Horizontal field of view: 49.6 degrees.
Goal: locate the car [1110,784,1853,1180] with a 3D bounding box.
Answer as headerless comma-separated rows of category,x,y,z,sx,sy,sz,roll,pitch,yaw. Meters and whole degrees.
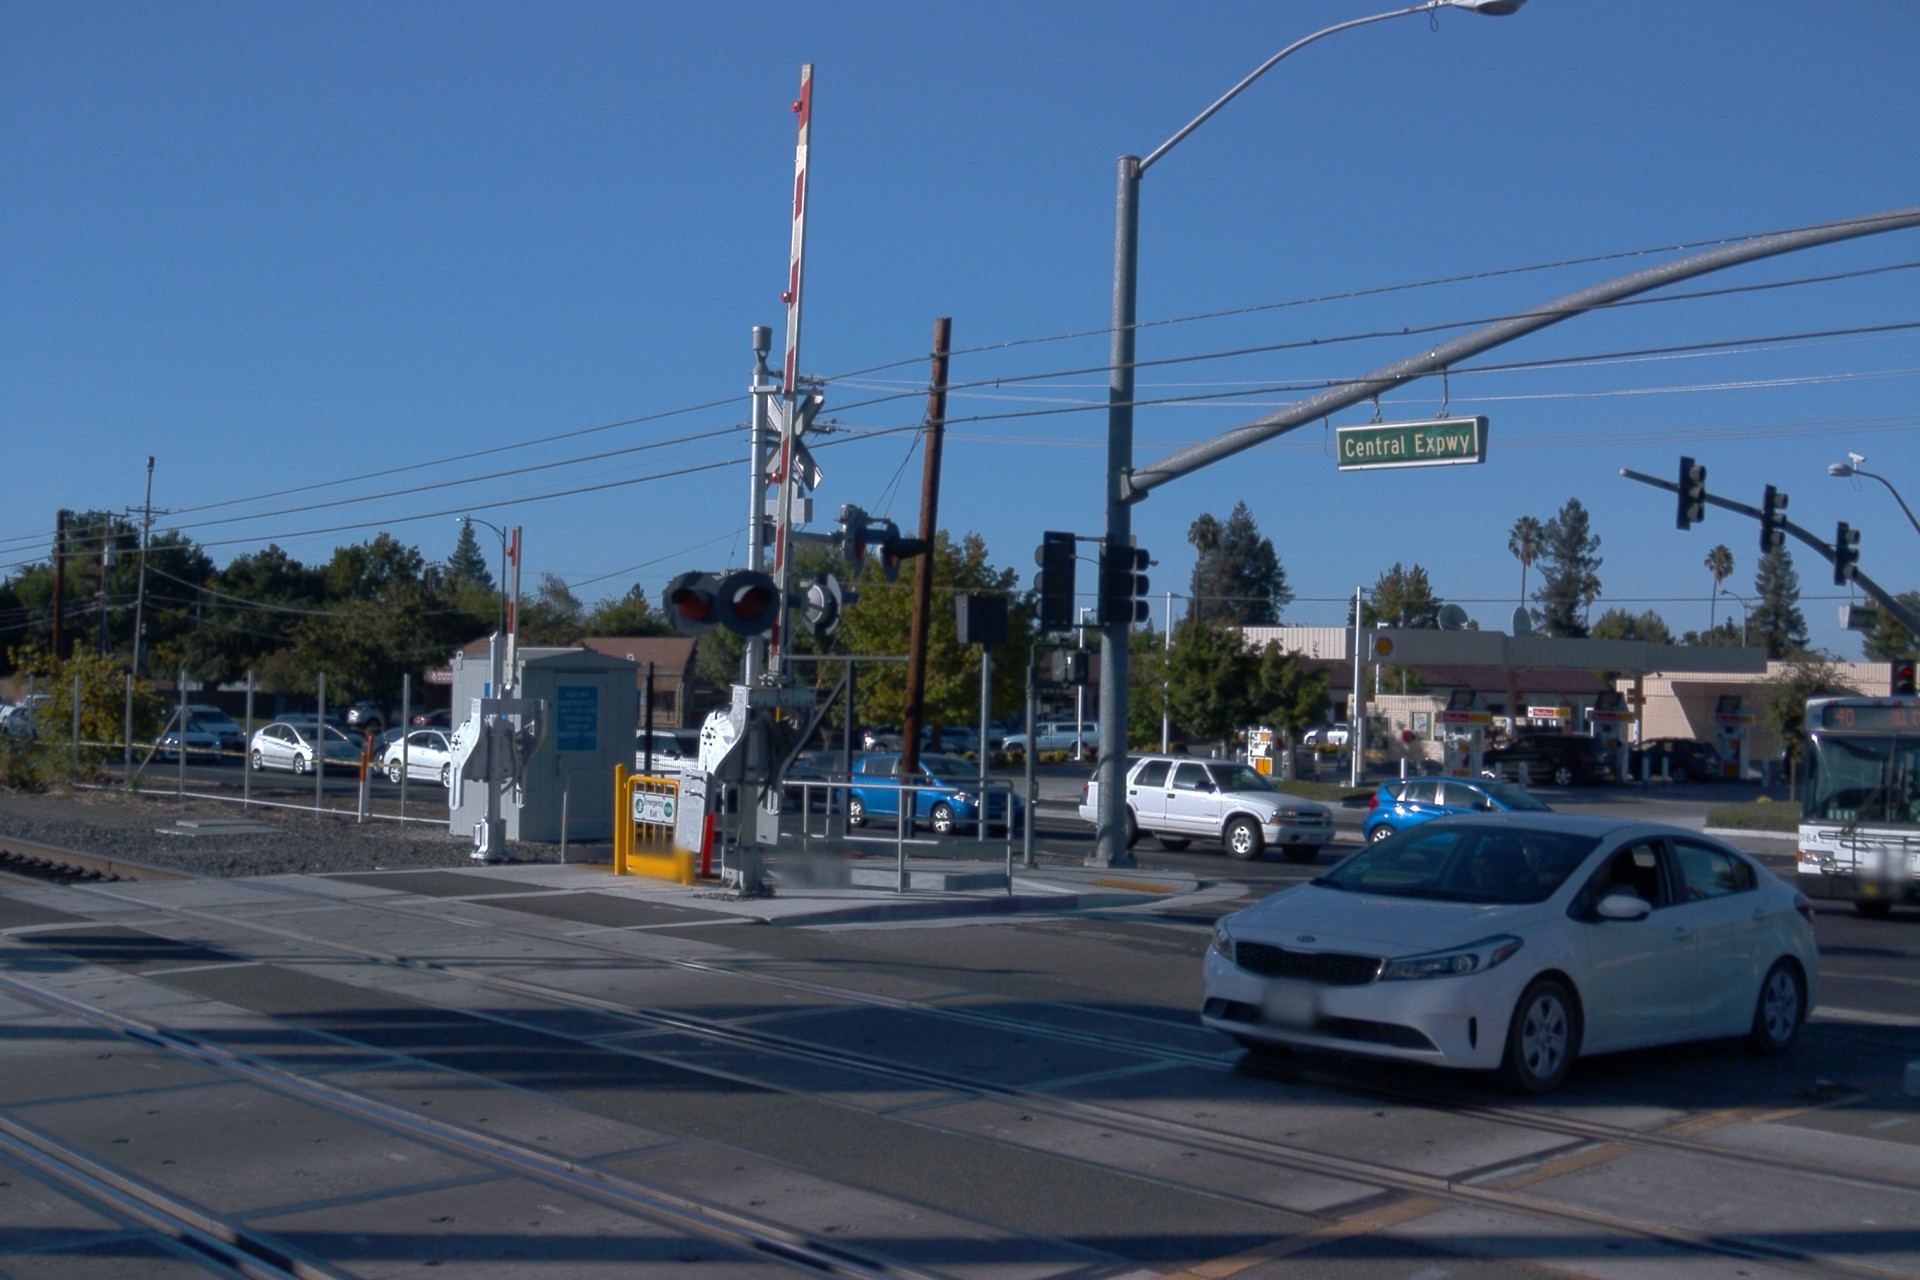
car,3.126,1.725,11.822,4.547,1.520,2.046,1,-1,-45

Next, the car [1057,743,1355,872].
car,4.135,2.793,35.544,2.110,1.830,4.847,1,-1,-43

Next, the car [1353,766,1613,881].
car,9.124,3.164,36.423,1.793,1.670,4.087,1,-1,-44
